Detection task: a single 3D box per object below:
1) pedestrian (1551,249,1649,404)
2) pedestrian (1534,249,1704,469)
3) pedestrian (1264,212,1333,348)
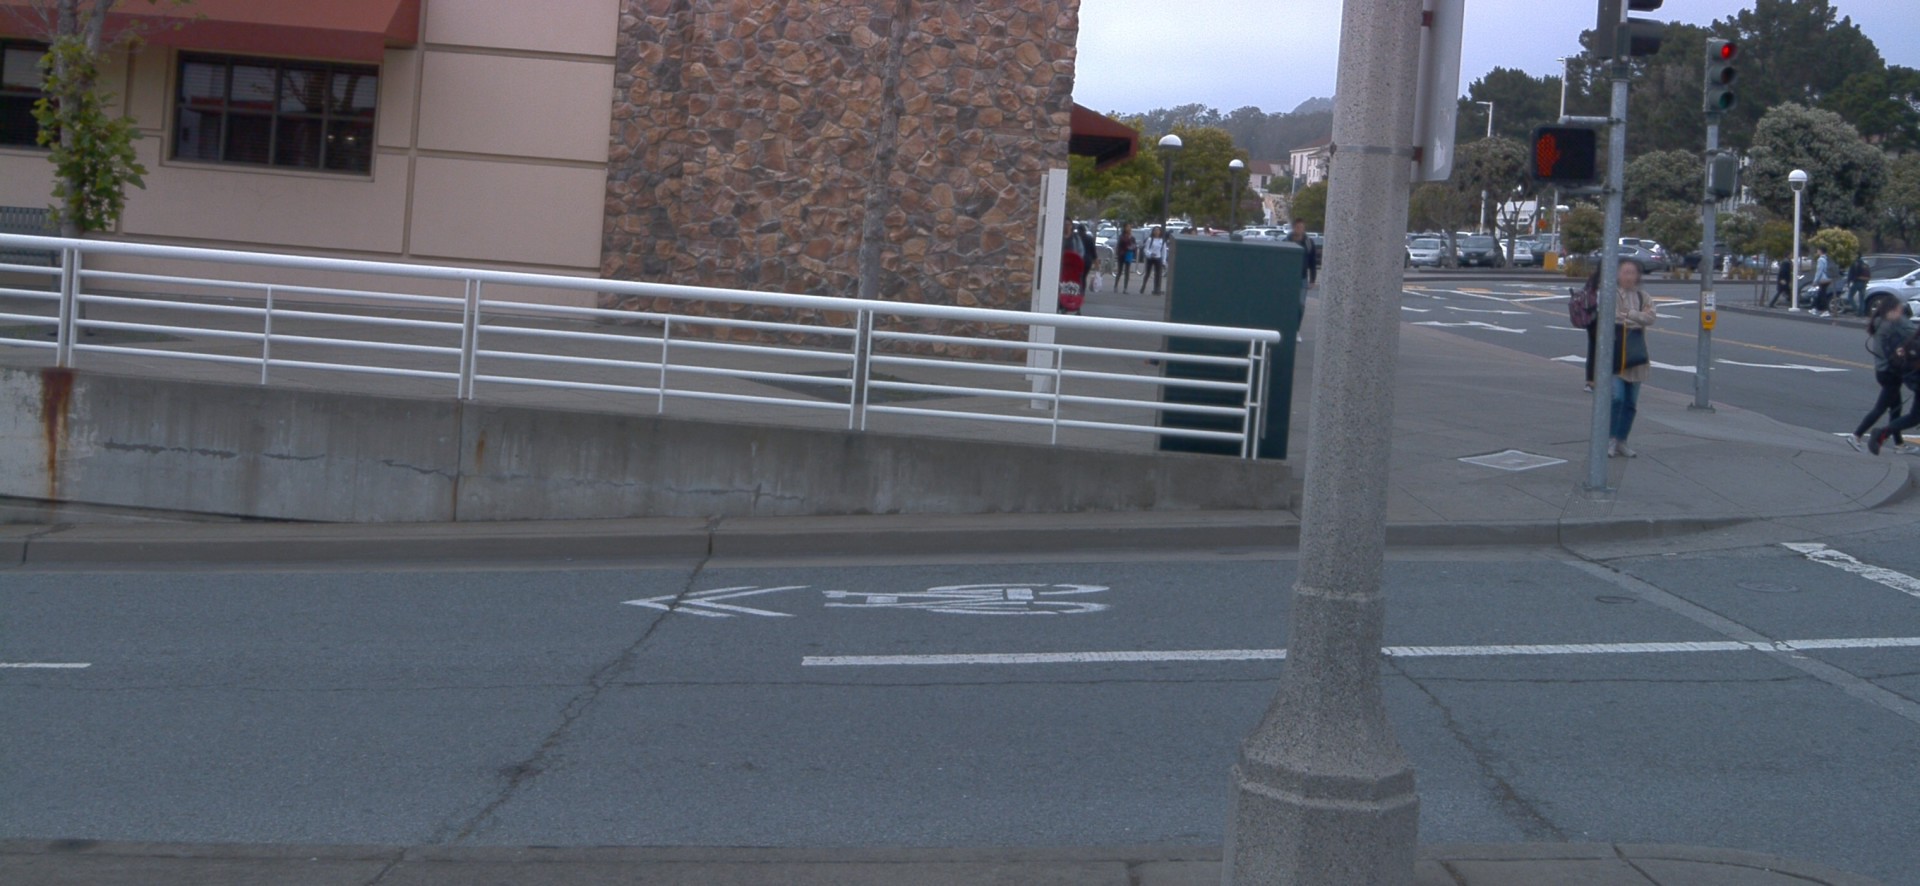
[{"bbox_3d":[7.160,-1.316,23.150,0.787,1.677,0.691,-1,2,-19],"label":"pedestrian"},{"bbox_3d":[5.358,-0.709,16.847,1.041,1.706,0.821,-1,2,-14],"label":"pedestrian"},{"bbox_3d":[5.045,-2.453,30.881,0.916,1.976,1.193,0,3,5],"label":"pedestrian"}]
